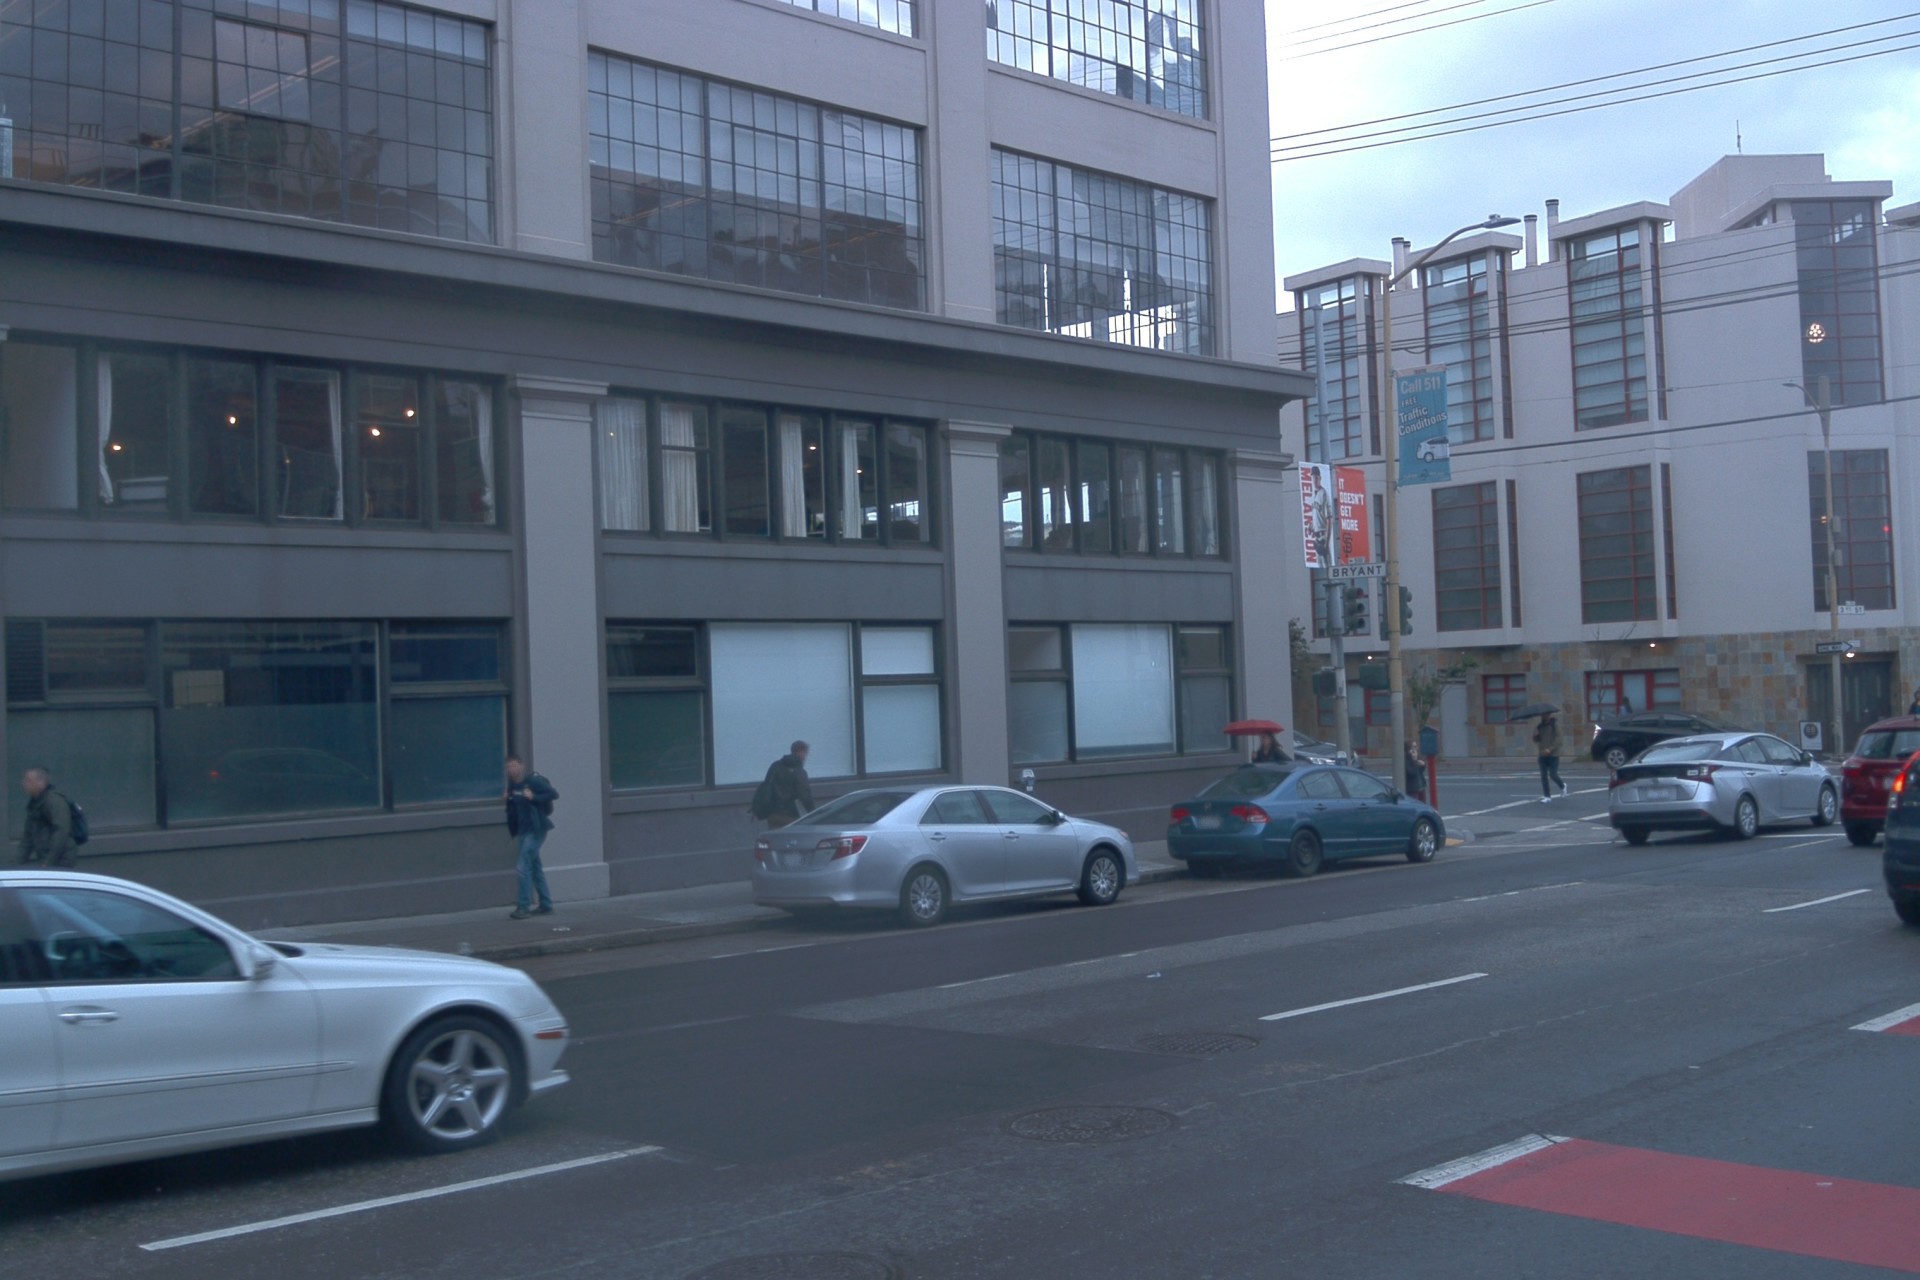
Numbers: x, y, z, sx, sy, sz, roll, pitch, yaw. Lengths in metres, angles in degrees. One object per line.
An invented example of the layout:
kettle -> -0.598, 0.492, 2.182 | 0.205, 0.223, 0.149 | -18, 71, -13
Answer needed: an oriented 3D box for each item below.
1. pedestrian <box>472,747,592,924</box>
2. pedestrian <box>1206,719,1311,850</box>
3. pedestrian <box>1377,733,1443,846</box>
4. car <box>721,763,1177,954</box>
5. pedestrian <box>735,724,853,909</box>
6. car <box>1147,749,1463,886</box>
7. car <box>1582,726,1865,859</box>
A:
pedestrian -> -4.568, 2.065, 22.215 | 0.960, 1.770, 0.826 | 0, 0, -44
pedestrian -> 4.577, 2.188, 31.879 | 1.124, 1.900, 1.157 | 0, 0, 45
pedestrian -> 6.948, 2.290, 32.097 | 0.825, 1.670, 0.591 | 0, 0, -33
car -> -0.004, 2.267, 22.669 | 2.014, 1.570, 4.989 | 0, 0, 45
pedestrian -> -1.870, 1.965, 23.501 | 0.909, 1.990, 0.967 | 0, 0, 37
car -> 4.626, 2.270, 27.473 | 1.913, 1.440, 4.430 | 0, 0, 44
car -> 10.887, 2.087, 29.486 | 2.043, 1.540, 4.613 | 0, 0, 45
